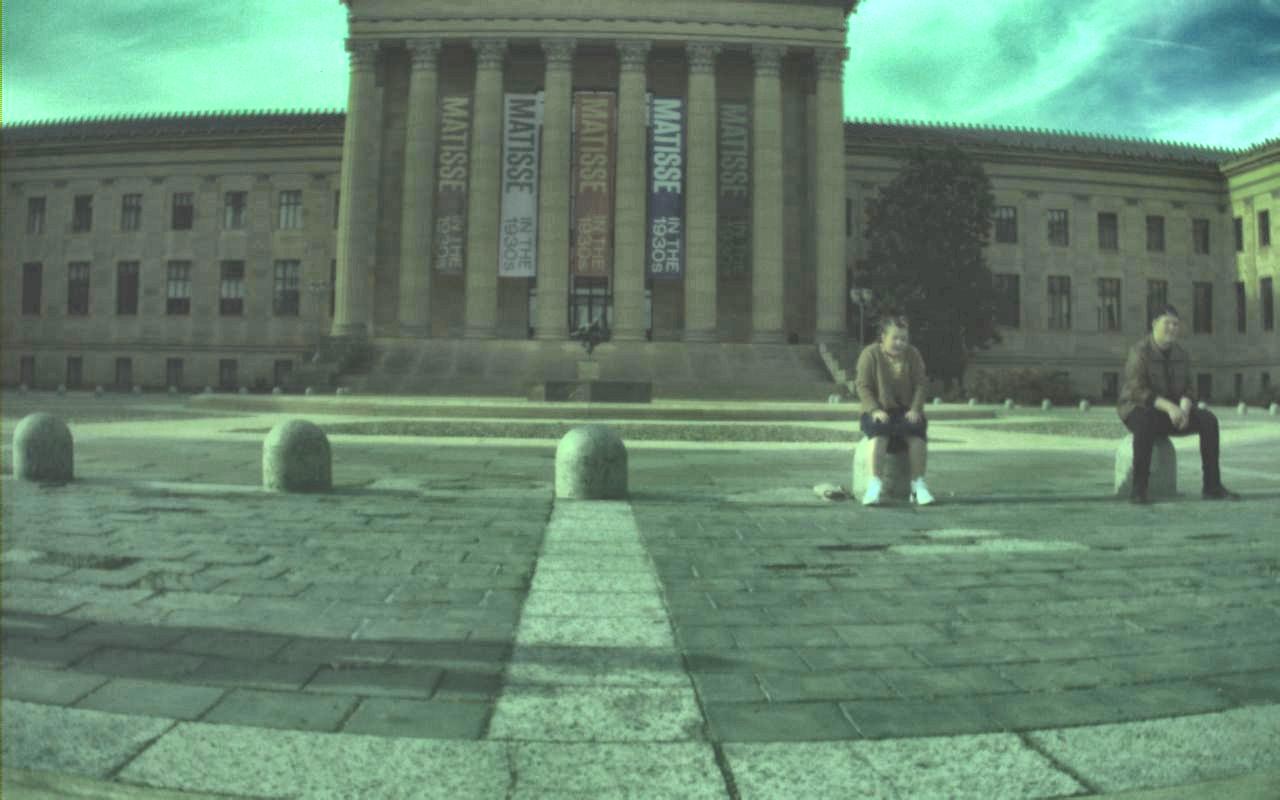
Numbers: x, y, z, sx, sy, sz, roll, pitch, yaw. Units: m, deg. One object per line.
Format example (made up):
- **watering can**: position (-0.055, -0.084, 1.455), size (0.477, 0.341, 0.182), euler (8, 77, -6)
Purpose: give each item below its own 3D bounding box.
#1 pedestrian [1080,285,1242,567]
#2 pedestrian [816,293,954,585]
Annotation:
- **pedestrian**: position (3.500, 0.174, 7.884), size (0.843, 1.789, 0.842), euler (0, 0, -2)
- **pedestrian**: position (1.586, 0.232, 7.925), size (0.819, 1.774, 0.815), euler (0, 0, 14)
